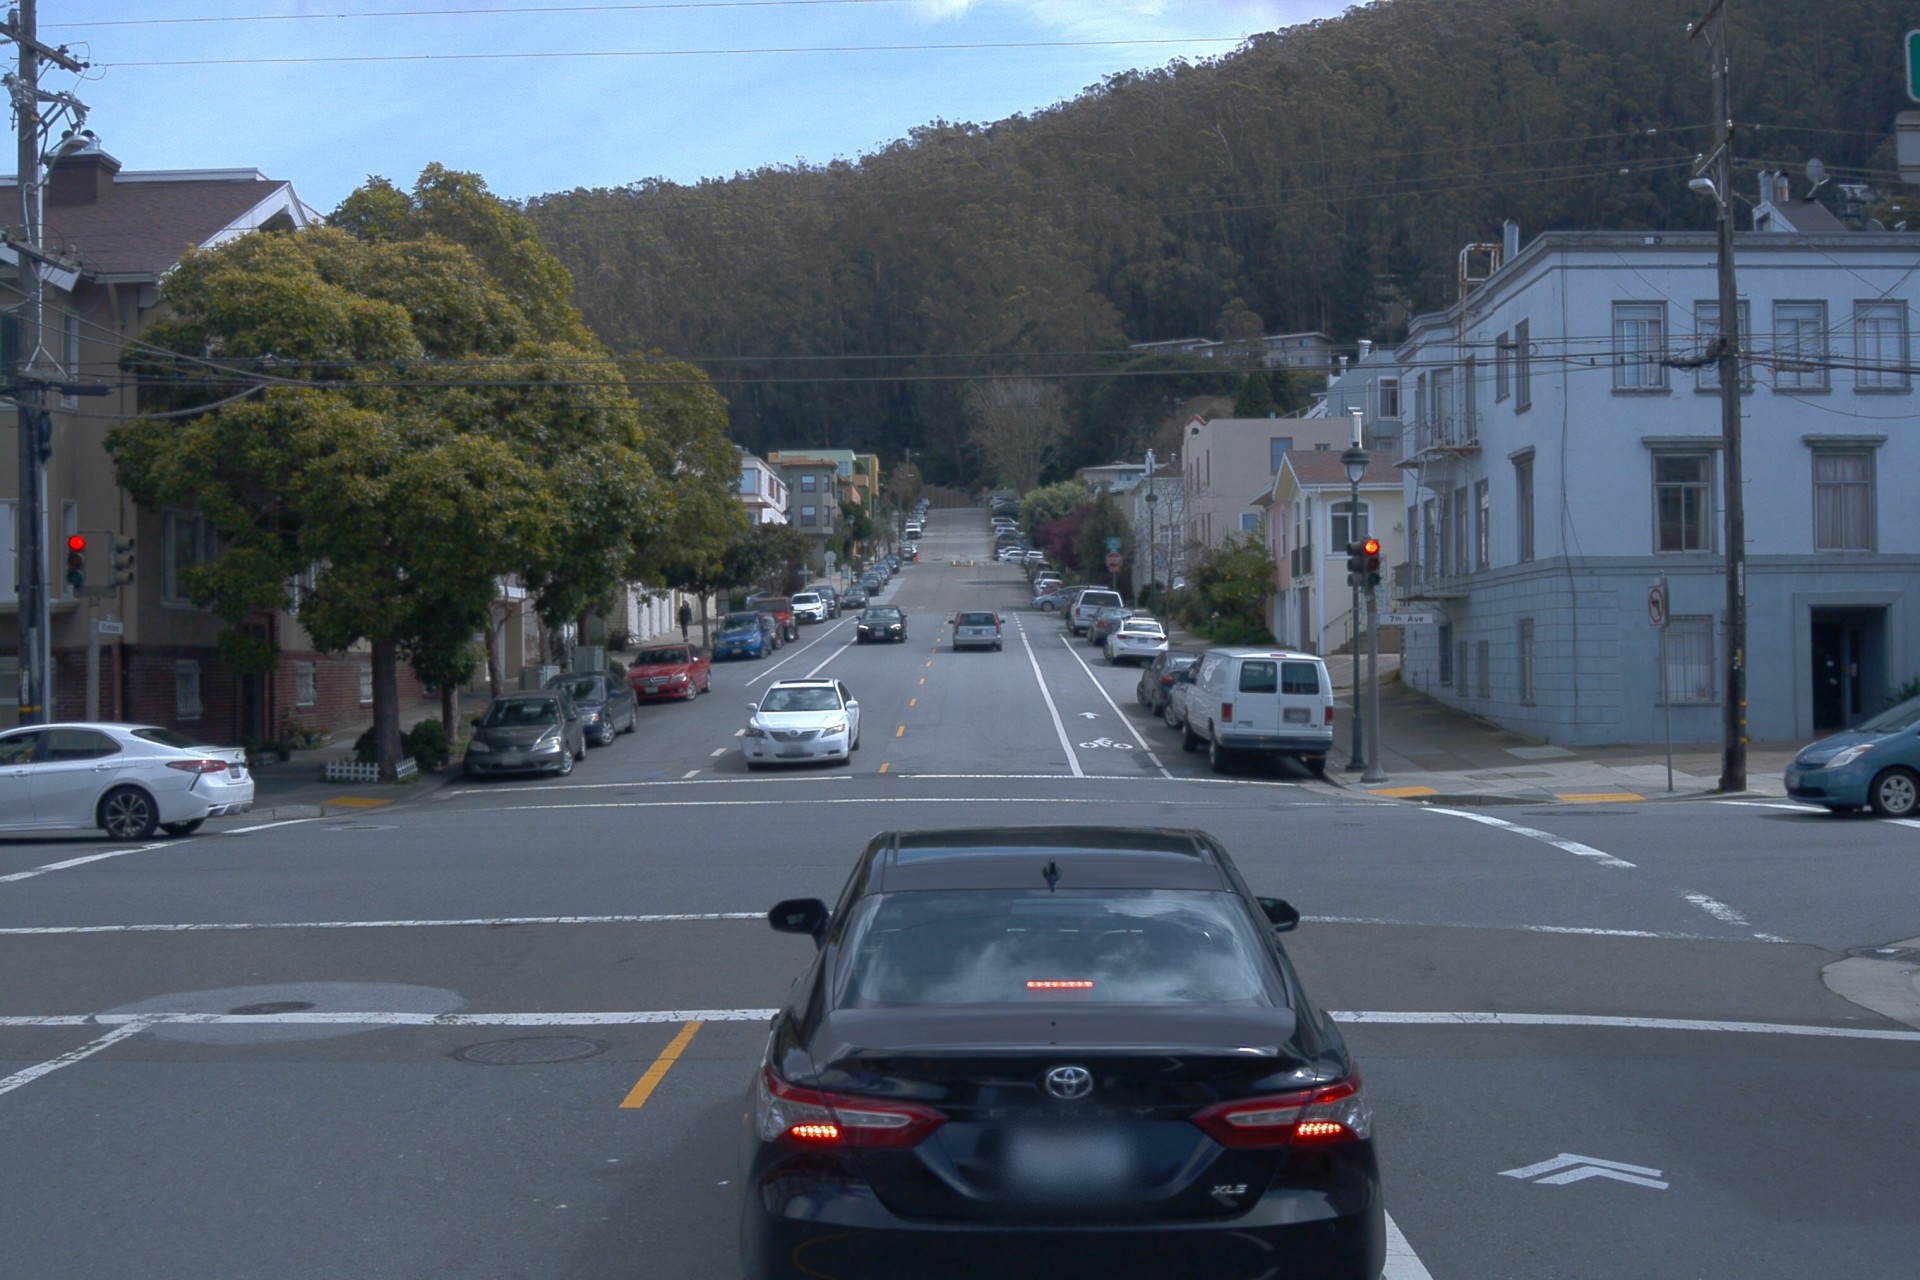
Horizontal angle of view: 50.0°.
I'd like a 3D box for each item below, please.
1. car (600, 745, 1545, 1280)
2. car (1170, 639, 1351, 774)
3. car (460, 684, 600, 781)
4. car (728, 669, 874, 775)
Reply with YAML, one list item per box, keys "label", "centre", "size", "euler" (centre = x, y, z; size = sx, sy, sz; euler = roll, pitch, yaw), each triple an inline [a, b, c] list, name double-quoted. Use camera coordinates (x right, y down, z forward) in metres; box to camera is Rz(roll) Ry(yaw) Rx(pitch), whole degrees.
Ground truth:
- label: "car"
  centre: [0.282, 1.304, 7.305]
  size: [2.249, 1.620, 4.798]
  euler: [0, 0, 0]
- label: "car"
  centre: [5.313, 1.116, 37.230]
  size: [2.299, 2.250, 5.313]
  euler: [0, 0, -2]
- label: "car"
  centre: [-7.707, 1.620, 37.253]
  size: [1.836, 1.560, 4.133]
  euler: [0, 0, -3]
- label: "car"
  centre: [-2.839, 1.446, 37.753]
  size: [2.209, 1.750, 4.541]
  euler: [0, 0, 1]
